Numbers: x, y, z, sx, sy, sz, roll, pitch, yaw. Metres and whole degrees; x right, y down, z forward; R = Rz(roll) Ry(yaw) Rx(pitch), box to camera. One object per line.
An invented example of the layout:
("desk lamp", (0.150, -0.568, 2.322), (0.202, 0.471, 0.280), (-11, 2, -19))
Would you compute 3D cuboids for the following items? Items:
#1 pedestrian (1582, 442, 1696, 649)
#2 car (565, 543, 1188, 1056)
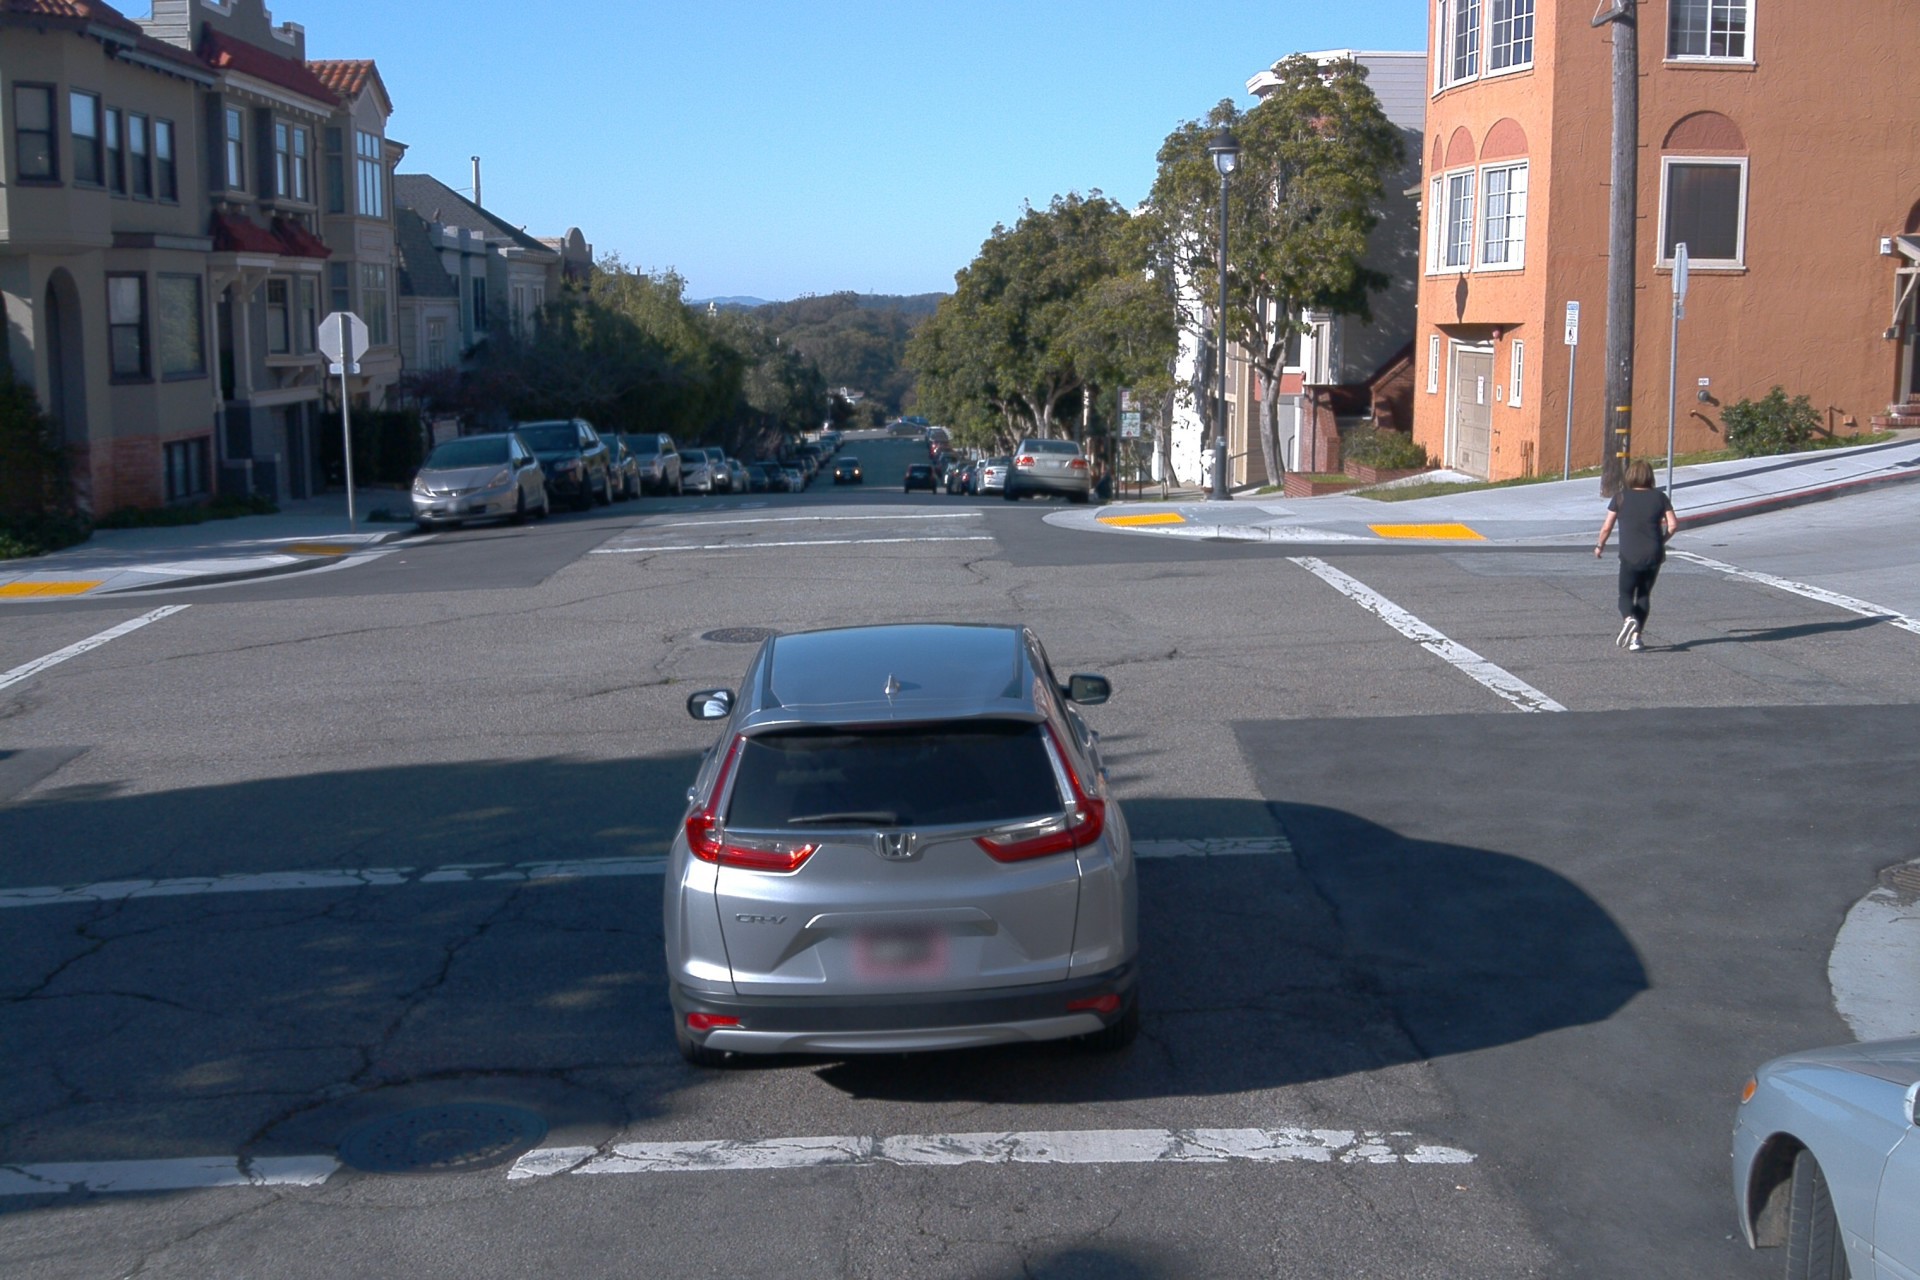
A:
("pedestrian", (5.500, -0.740, 16.828), (0.730, 1.620, 1.129), (0, 0, 10))
("car", (-0.337, 0.574, 9.632), (2.191, 1.800, 4.695), (0, 0, -1))
